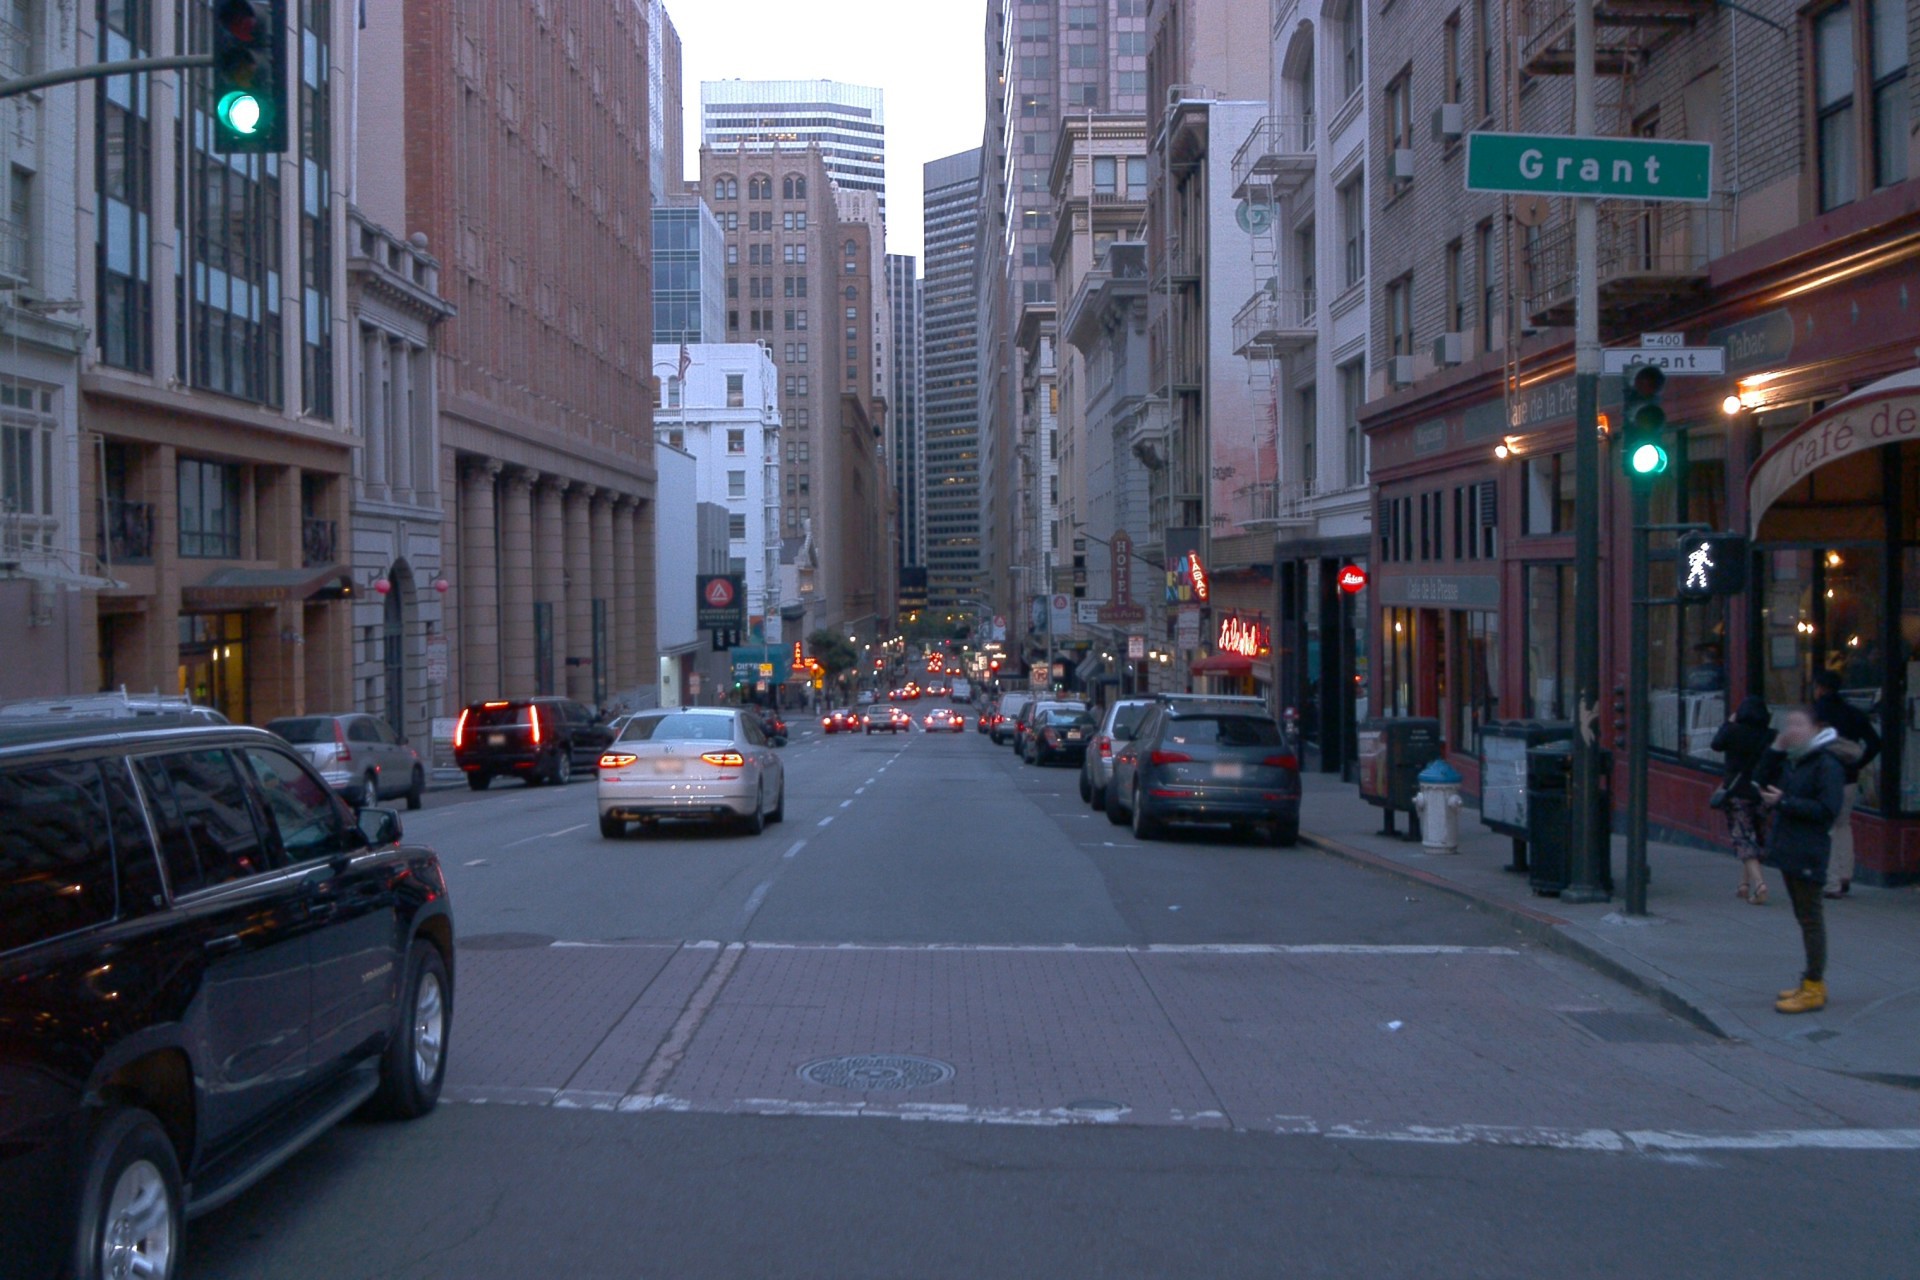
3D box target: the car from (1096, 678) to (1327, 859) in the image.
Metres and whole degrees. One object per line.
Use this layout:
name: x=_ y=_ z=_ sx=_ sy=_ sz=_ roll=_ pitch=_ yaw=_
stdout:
car: x=2.957 y=1.476 z=25.306 sx=2.215 sy=1.850 sz=4.835 roll=0 pitch=1 yaw=0

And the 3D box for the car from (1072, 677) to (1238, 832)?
car: x=2.935 y=1.688 z=31.810 sx=2.112 sy=2.100 sz=4.445 roll=0 pitch=1 yaw=0

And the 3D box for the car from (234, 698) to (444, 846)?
car: x=-9.706 y=2.000 z=32.498 sx=1.937 sy=1.988 sz=4.533 roll=0 pitch=1 yaw=0

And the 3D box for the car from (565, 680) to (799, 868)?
car: x=-3.137 y=1.470 z=24.208 sx=2.119 sy=1.850 sz=4.734 roll=0 pitch=1 yaw=0

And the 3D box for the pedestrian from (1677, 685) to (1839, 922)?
pedestrian: x=5.881 y=1.177 z=15.193 sx=0.766 sy=1.656 sz=0.958 roll=0 pitch=1 yaw=-5
